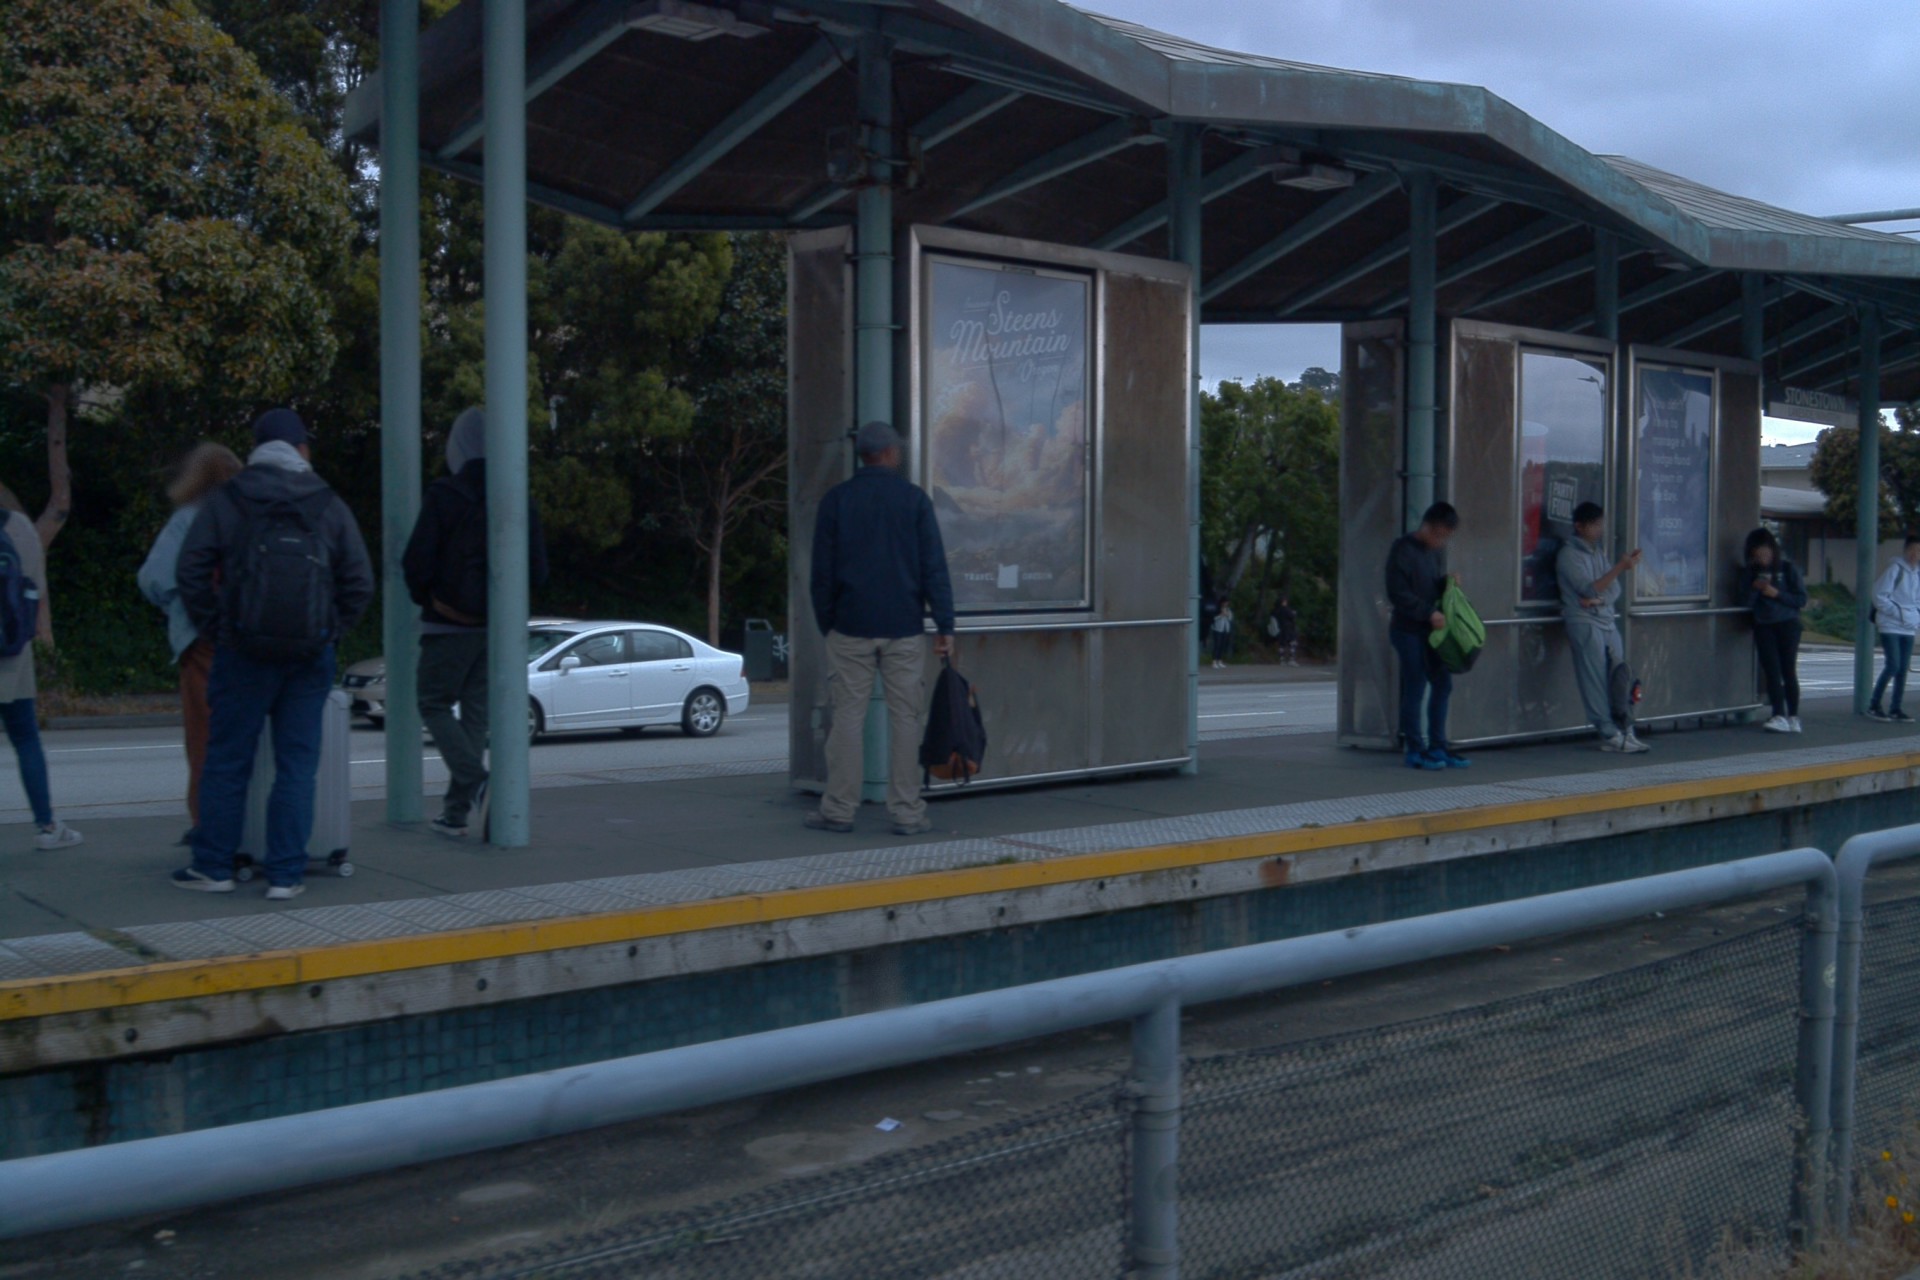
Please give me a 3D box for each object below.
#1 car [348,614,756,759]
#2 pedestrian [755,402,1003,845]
[{"bbox_3d":[-4.767,0.480,24.528,4.454,1.560,1.850,-1,1,-44],"label":"car"},{"bbox_3d":[-0.337,-0.074,8.997,1.025,1.840,0.837,0,1,0],"label":"pedestrian"}]
